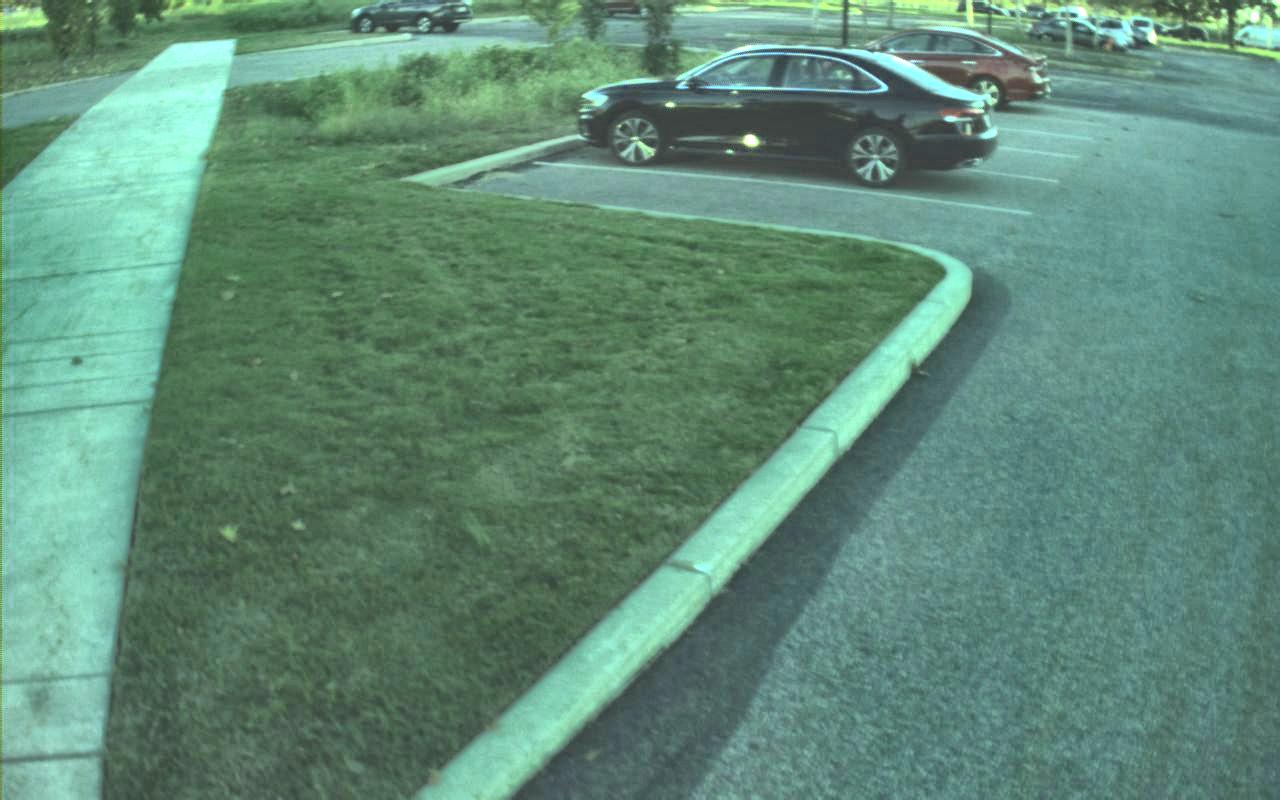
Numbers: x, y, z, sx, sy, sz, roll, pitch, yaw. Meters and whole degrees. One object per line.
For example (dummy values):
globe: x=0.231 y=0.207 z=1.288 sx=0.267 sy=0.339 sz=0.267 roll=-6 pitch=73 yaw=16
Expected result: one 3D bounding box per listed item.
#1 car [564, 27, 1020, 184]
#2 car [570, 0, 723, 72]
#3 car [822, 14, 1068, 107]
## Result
car: x=1.772 y=-3.431 z=13.854 sx=4.812 sy=1.577 sz=2.033 roll=6 pitch=17 yaw=24
car: x=0.241 y=-7.436 z=24.439 sx=1.993 sy=1.719 sz=4.575 roll=3 pitch=16 yaw=14
car: x=5.845 y=-6.456 z=22.832 sx=4.470 sy=1.554 sz=1.946 roll=7 pitch=17 yaw=25
